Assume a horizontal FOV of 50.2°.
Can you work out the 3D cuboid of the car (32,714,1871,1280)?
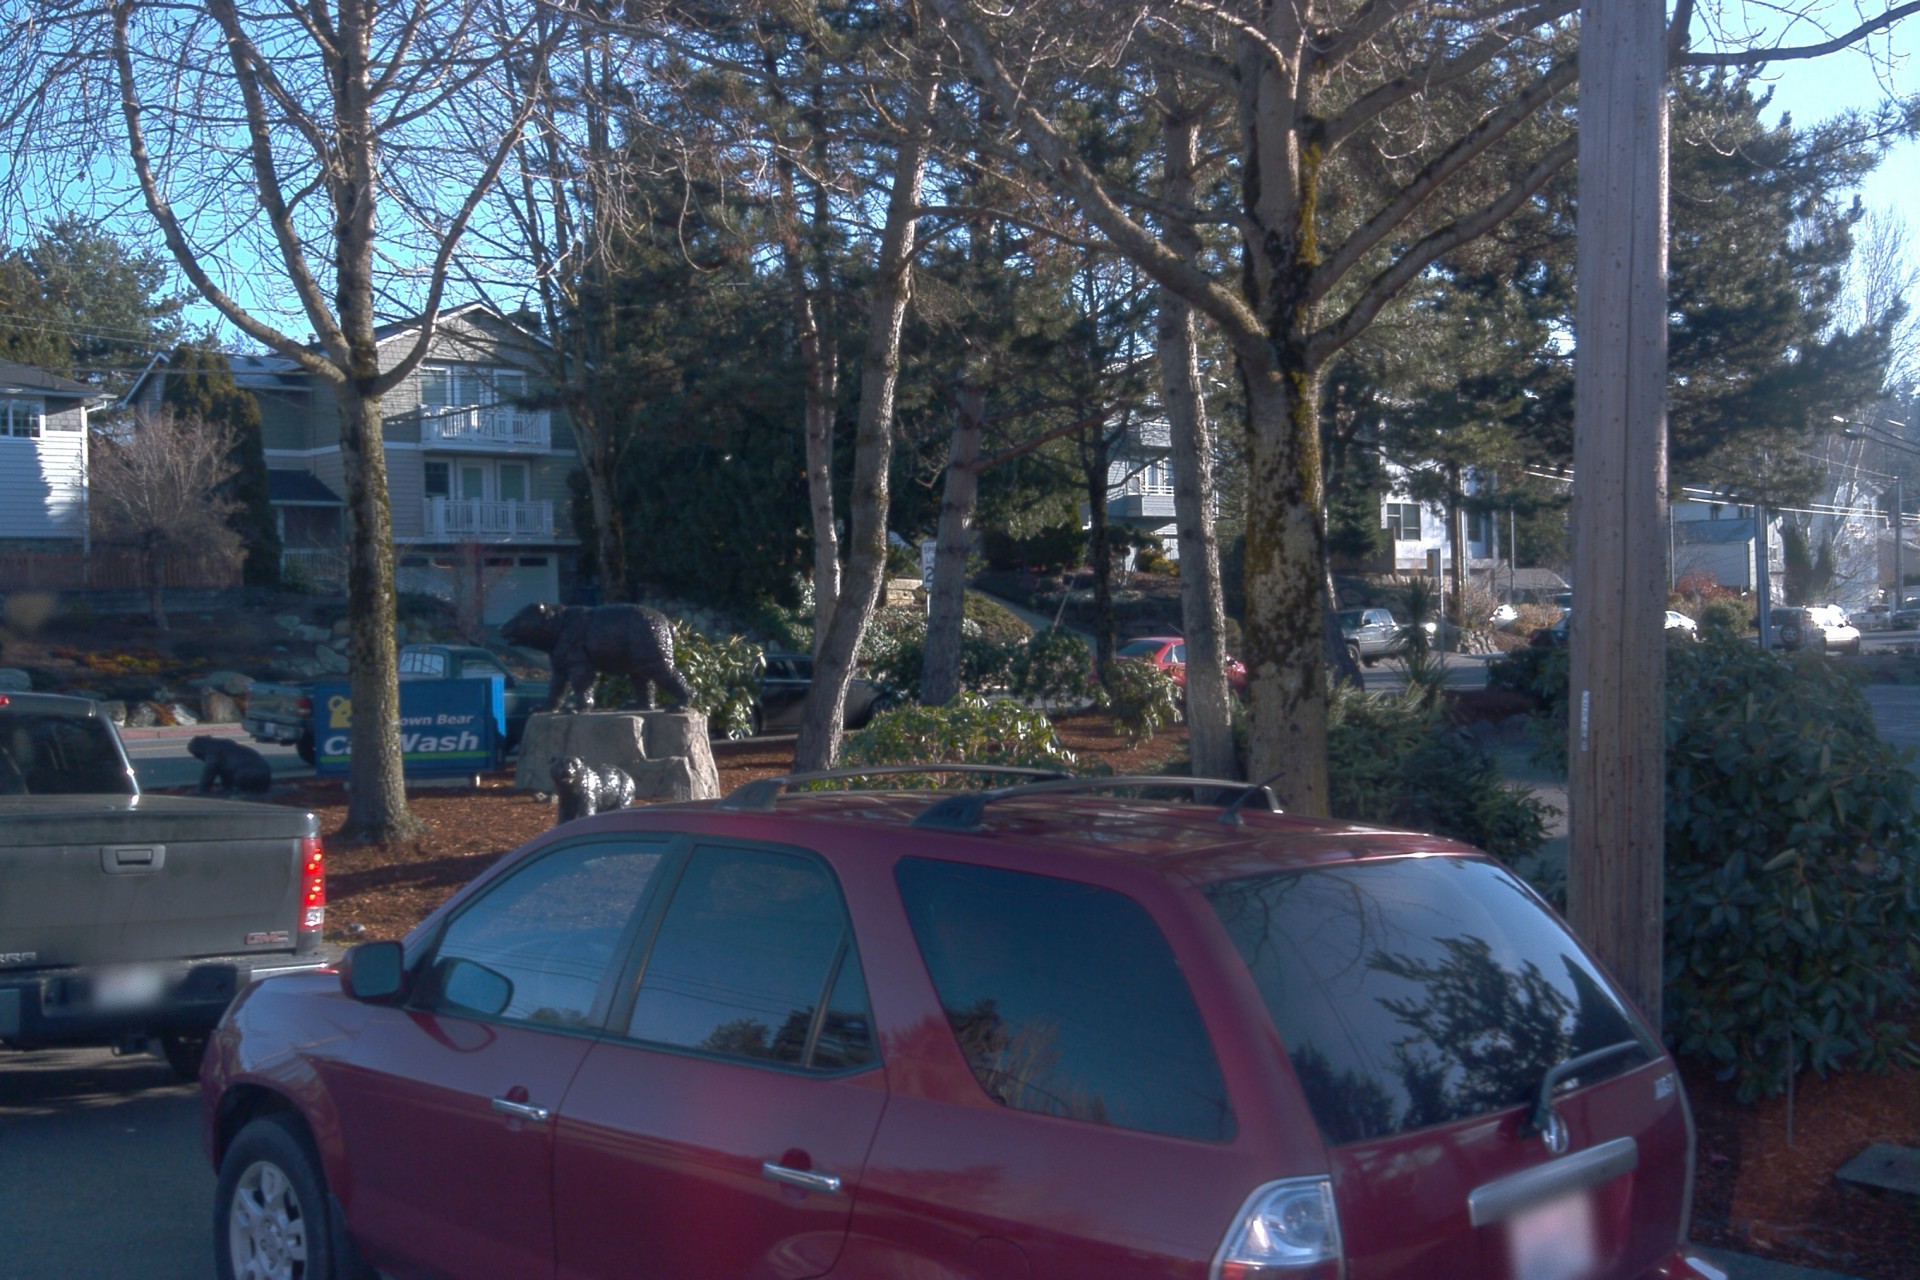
[{"bbox_3d":[-0.440,1.218,5.516,2.220,1.810,4.796,0,1,-45],"label":"car"}]

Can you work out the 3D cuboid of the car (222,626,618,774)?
[{"bbox_3d":[-7.620,0.780,29.280,2.128,1.920,5.099,1,1,45],"label":"car"}]

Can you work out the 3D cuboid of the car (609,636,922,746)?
[{"bbox_3d":[-3.136,0.776,33.720,4.858,1.660,2.112,0,1,-44],"label":"car"}]
